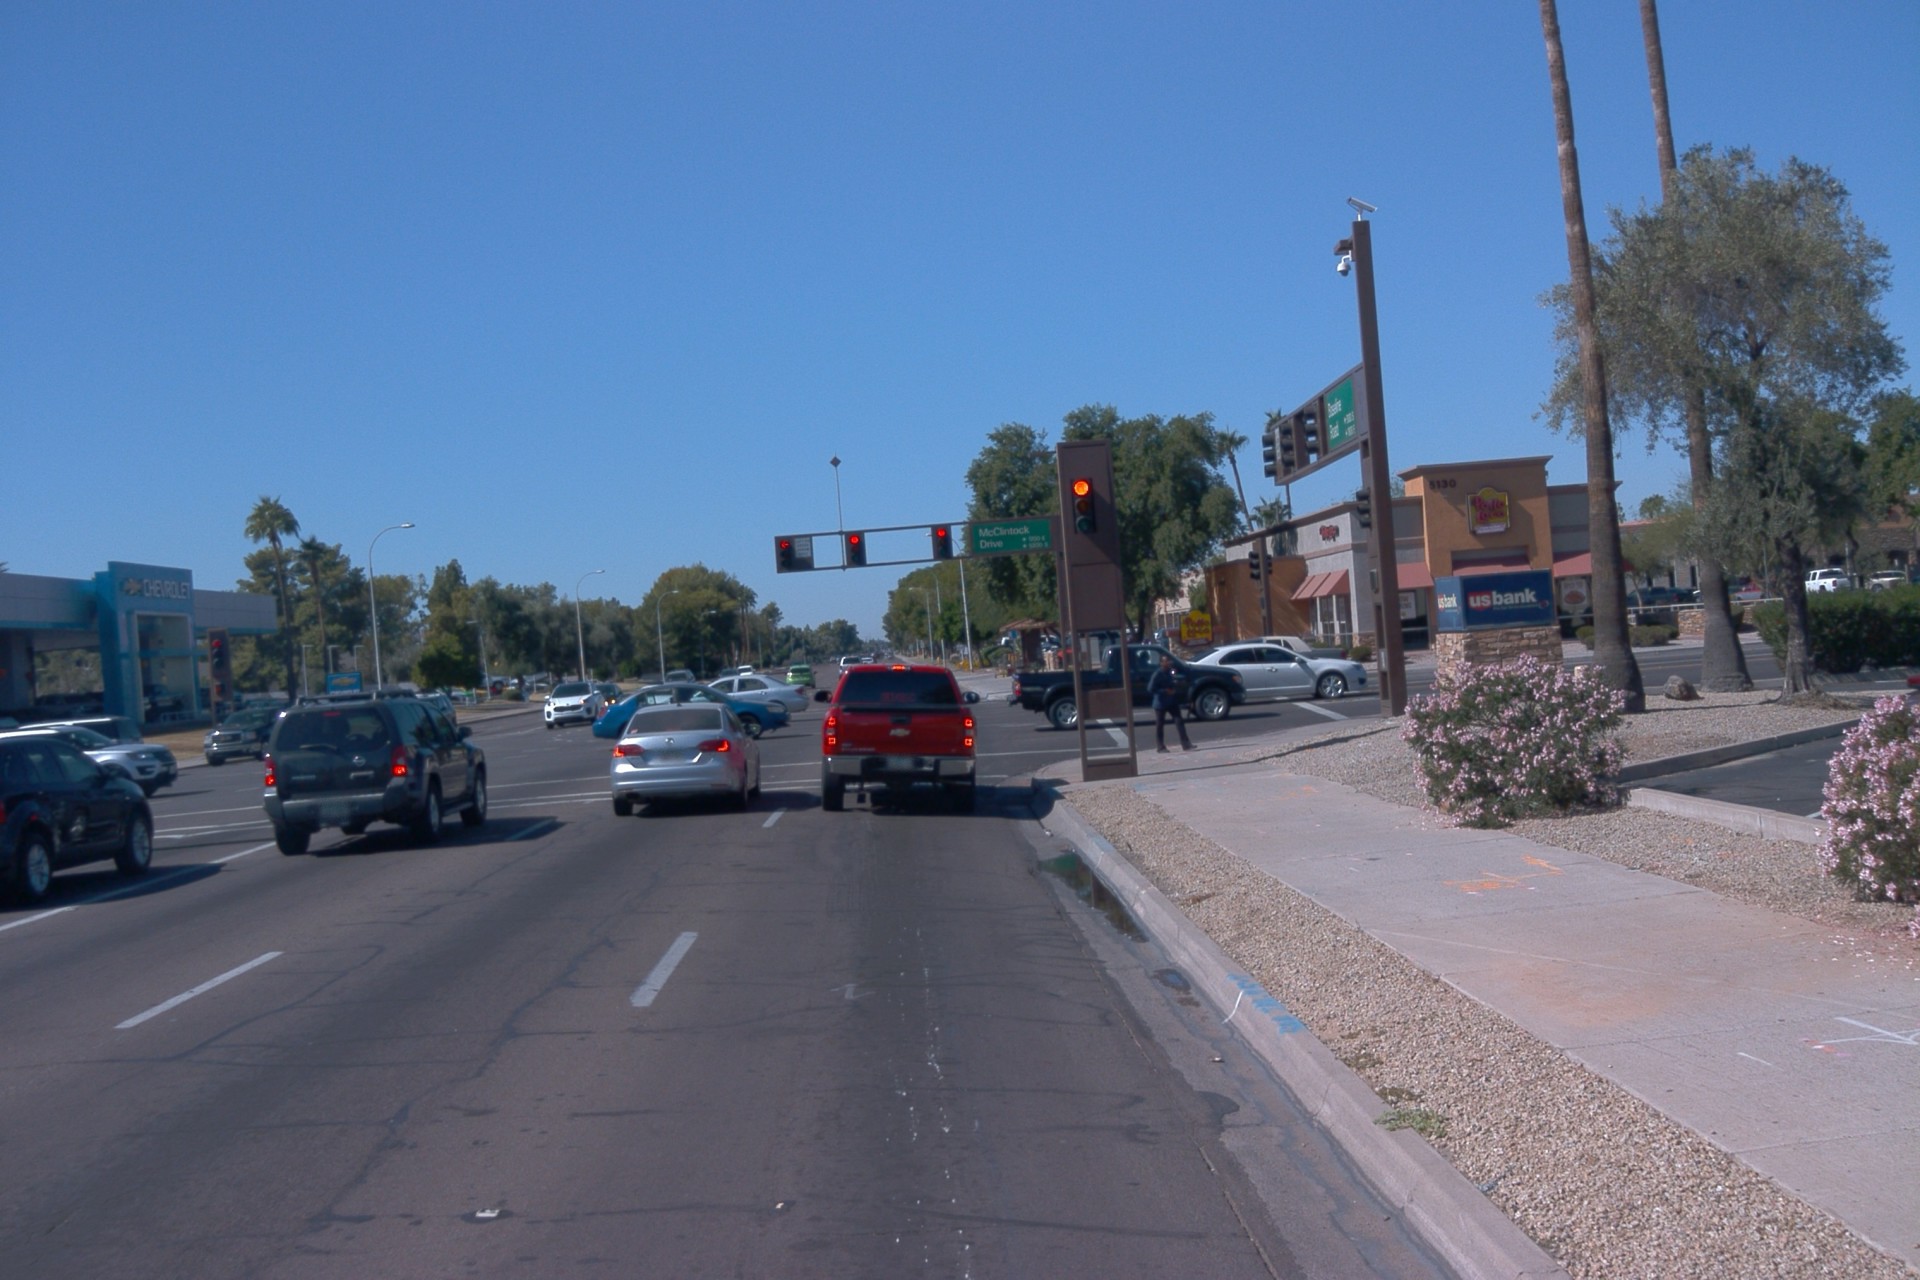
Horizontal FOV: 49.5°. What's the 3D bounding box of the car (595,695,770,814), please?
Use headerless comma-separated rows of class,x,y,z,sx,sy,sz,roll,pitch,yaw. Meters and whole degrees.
car,-3.739,1.516,28.774,1.920,1.450,4.335,1,-1,-1

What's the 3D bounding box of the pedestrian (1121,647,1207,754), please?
pedestrian,3.338,0.980,34.076,0.807,1.714,1.172,1,-1,-37

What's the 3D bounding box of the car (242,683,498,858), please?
car,-7.243,1.540,26.050,1.998,1.951,4.415,1,-1,-1

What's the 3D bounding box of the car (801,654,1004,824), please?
car,-0.834,1.291,29.059,2.538,2.120,5.758,1,-1,-2
